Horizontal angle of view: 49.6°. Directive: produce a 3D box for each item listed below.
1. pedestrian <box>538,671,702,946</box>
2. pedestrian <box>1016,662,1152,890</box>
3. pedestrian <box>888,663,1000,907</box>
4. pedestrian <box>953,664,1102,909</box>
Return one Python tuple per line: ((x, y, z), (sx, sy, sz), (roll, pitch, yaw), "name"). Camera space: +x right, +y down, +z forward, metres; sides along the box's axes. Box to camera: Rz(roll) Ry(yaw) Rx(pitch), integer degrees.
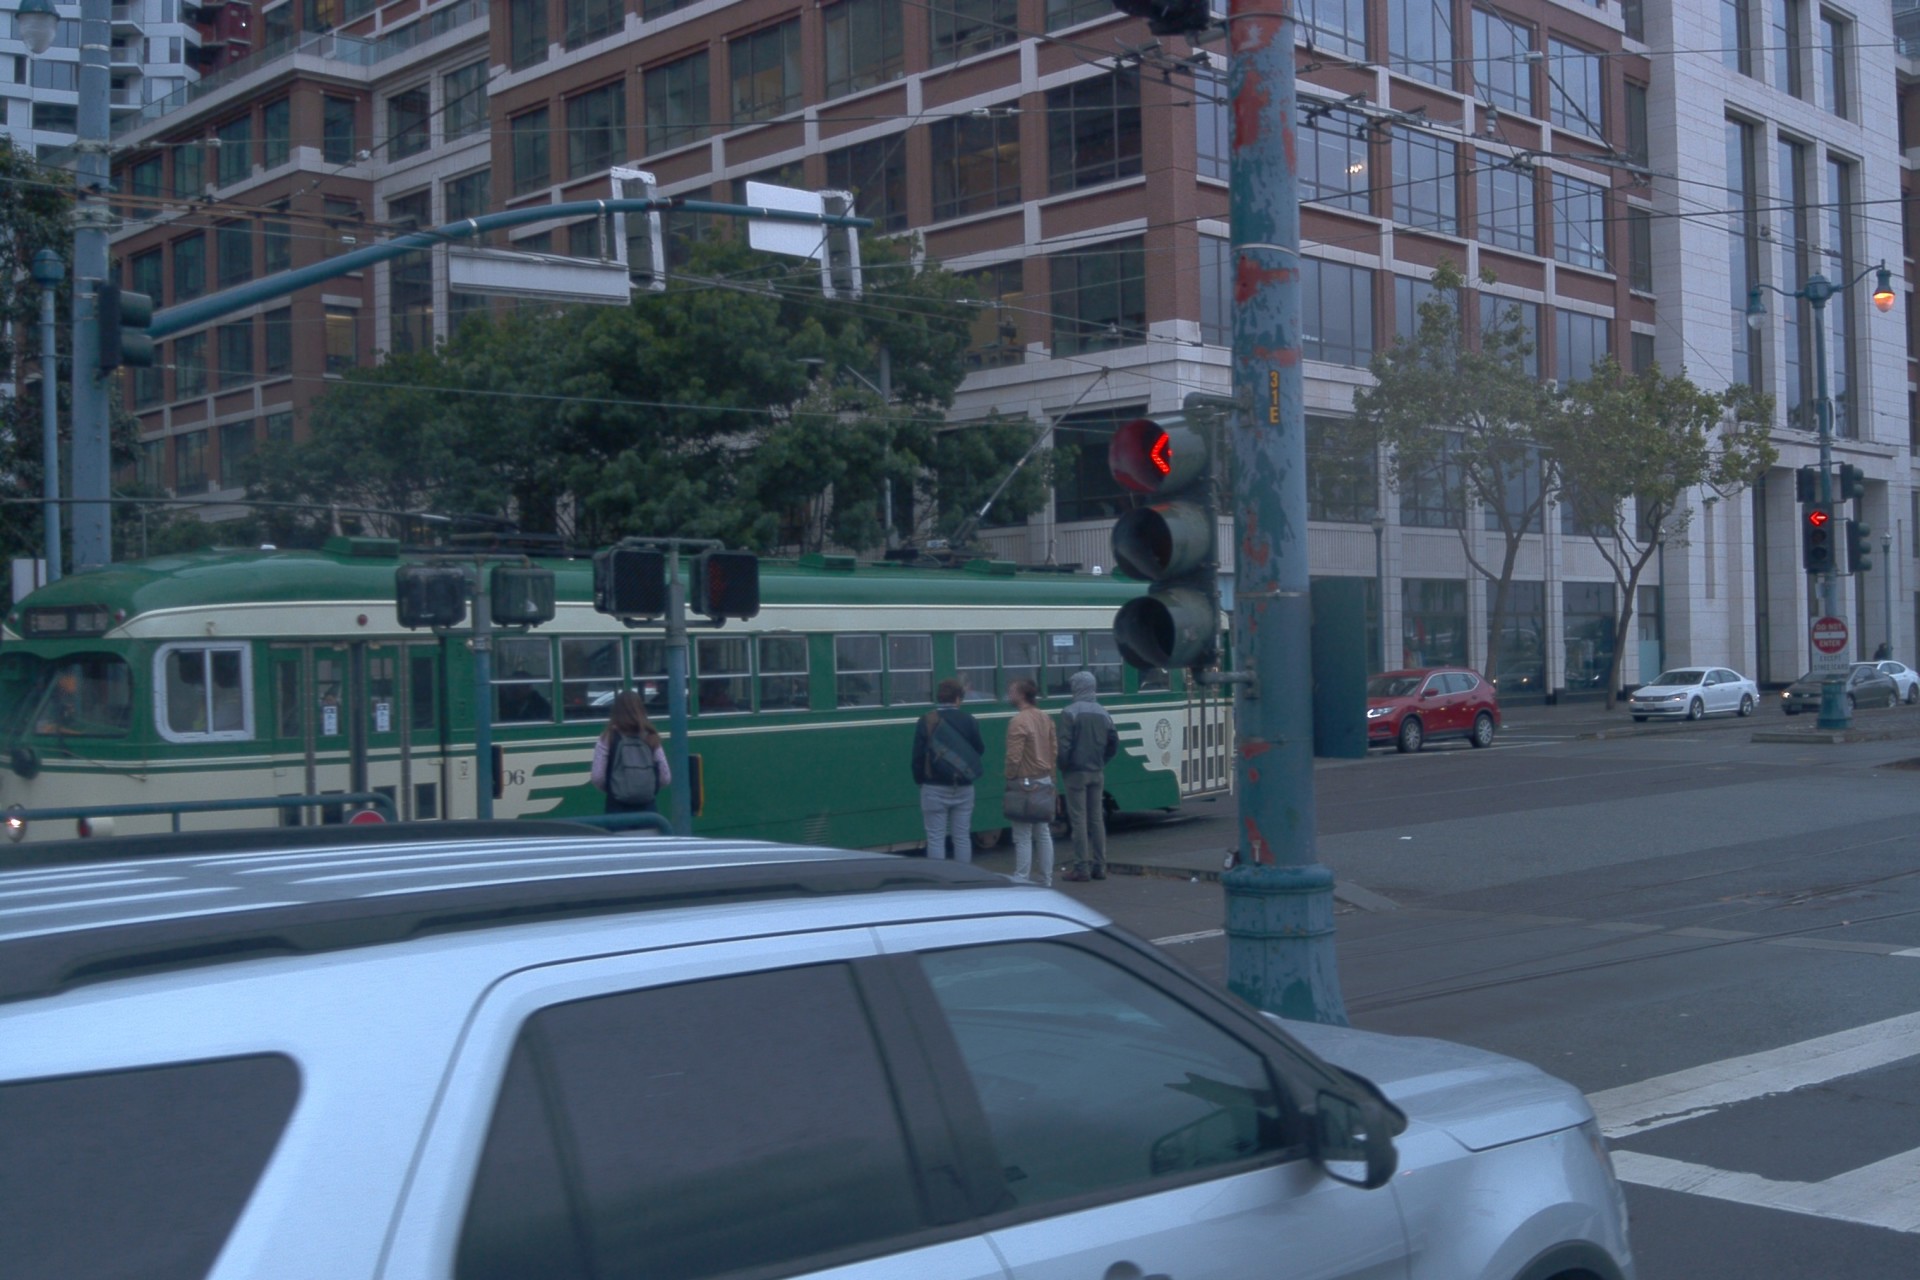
((-2.396, 1.147, 14.632), (0.852, 1.840, 0.831), (0, 0, -37), "pedestrian")
((1.079, 1.157, 18.218), (0.876, 1.920, 0.853), (0, 0, -28), "pedestrian")
((-0.121, 1.152, 16.891), (0.818, 1.920, 0.885), (0, 0, 5), "pedestrian")
((0.550, 1.164, 17.056), (0.878, 1.920, 0.851), (0, 0, -43), "pedestrian")
